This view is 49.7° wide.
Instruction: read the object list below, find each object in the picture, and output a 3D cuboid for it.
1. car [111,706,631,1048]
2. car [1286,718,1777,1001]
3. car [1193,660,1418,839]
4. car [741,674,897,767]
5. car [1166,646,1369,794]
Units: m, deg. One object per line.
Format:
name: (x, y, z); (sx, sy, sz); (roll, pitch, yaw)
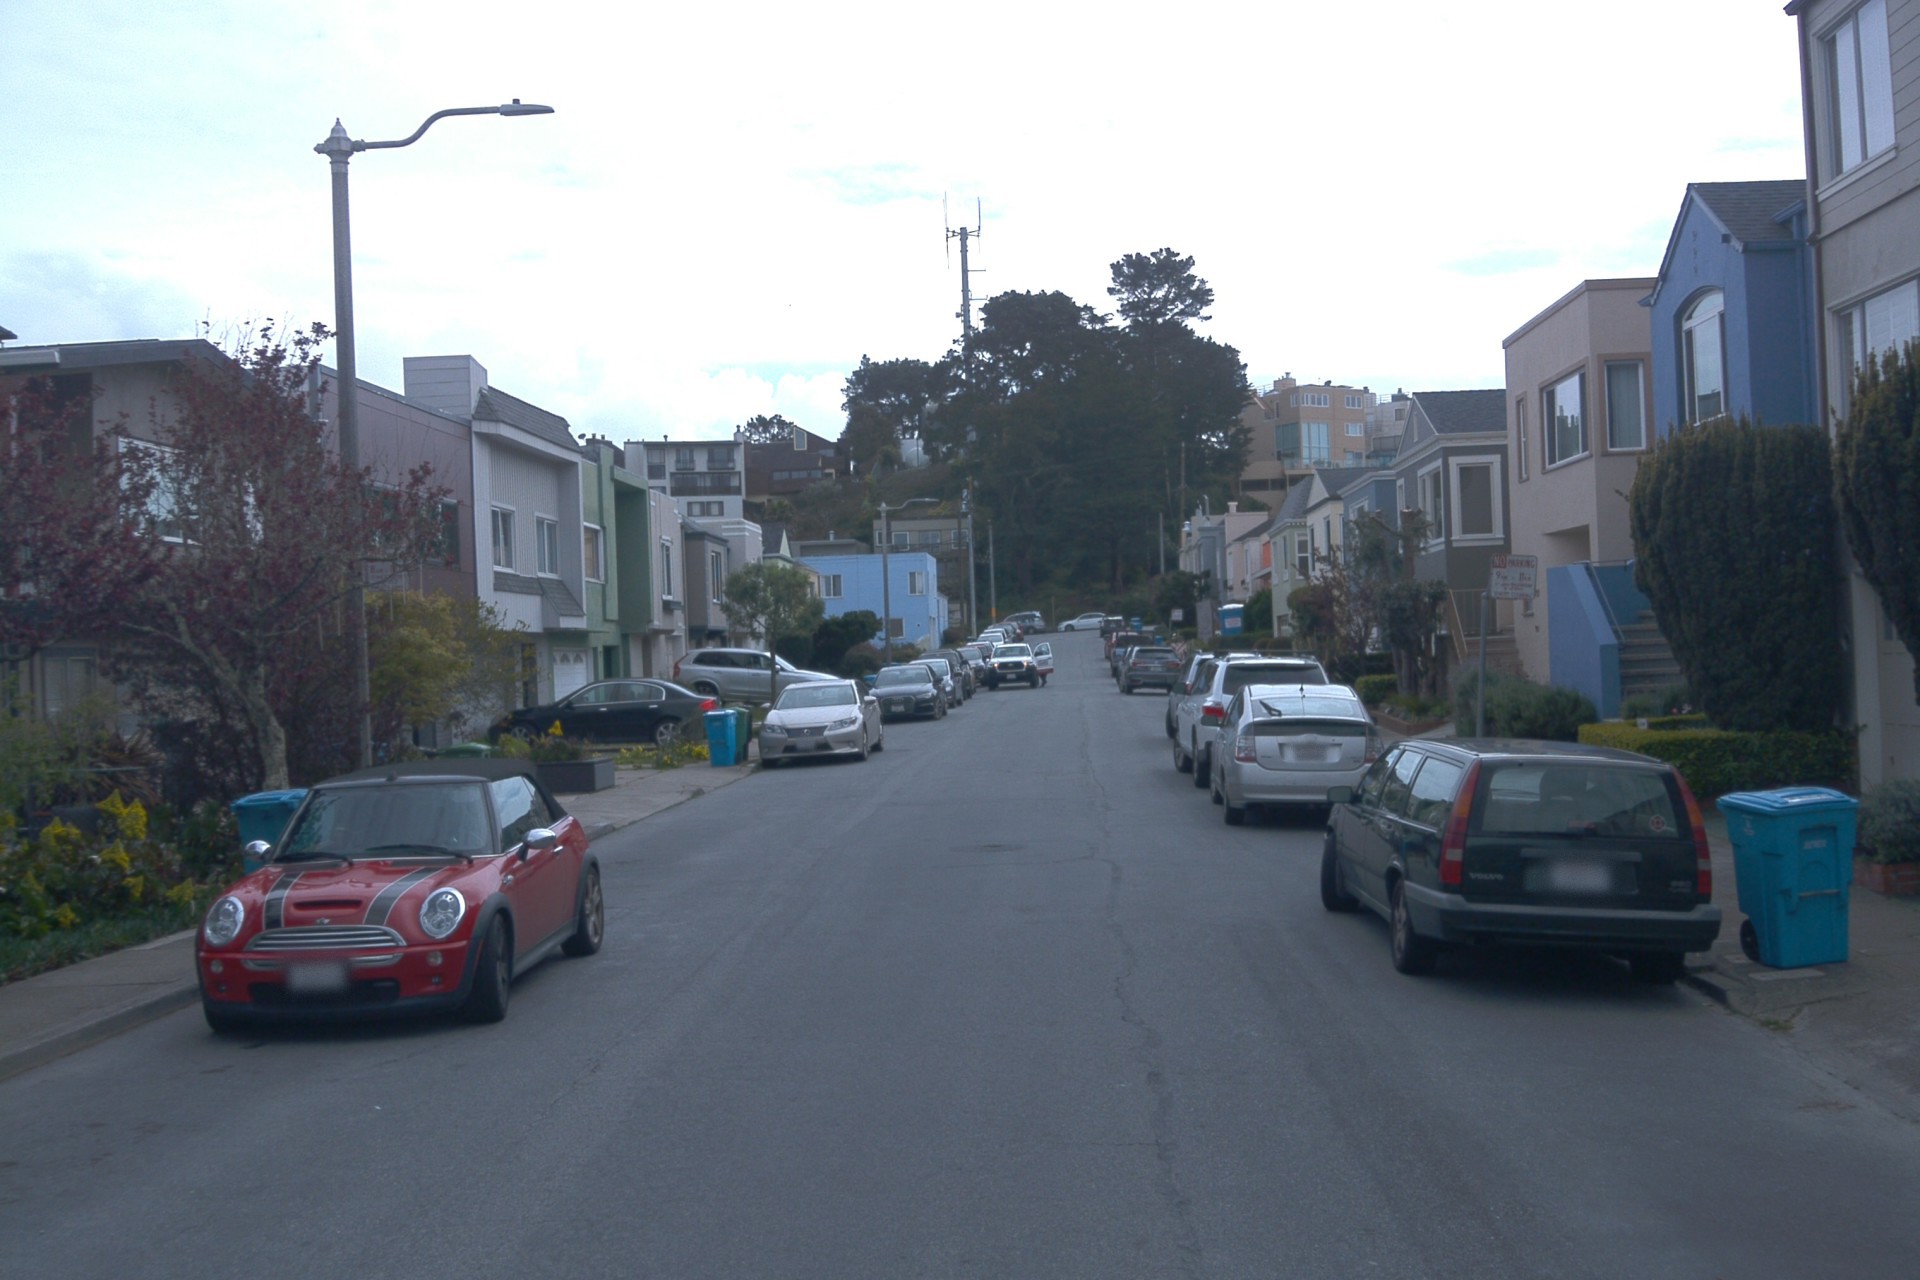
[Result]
car: (-3.382, 1.295, 12.727); (1.994, 1.670, 3.840); (0, 0, 2)
car: (3.571, 1.317, 13.993); (2.070, 1.420, 4.835); (0, 0, 1)
car: (3.751, 1.129, 23.272); (2.087, 1.790, 4.605); (0, 0, 4)
car: (-2.460, 1.402, 37.487); (2.131, 1.510, 5.018); (0, 0, 4)
car: (4.094, 1.008, 28.446); (2.207, 1.850, 5.027); (0, 0, 2)
